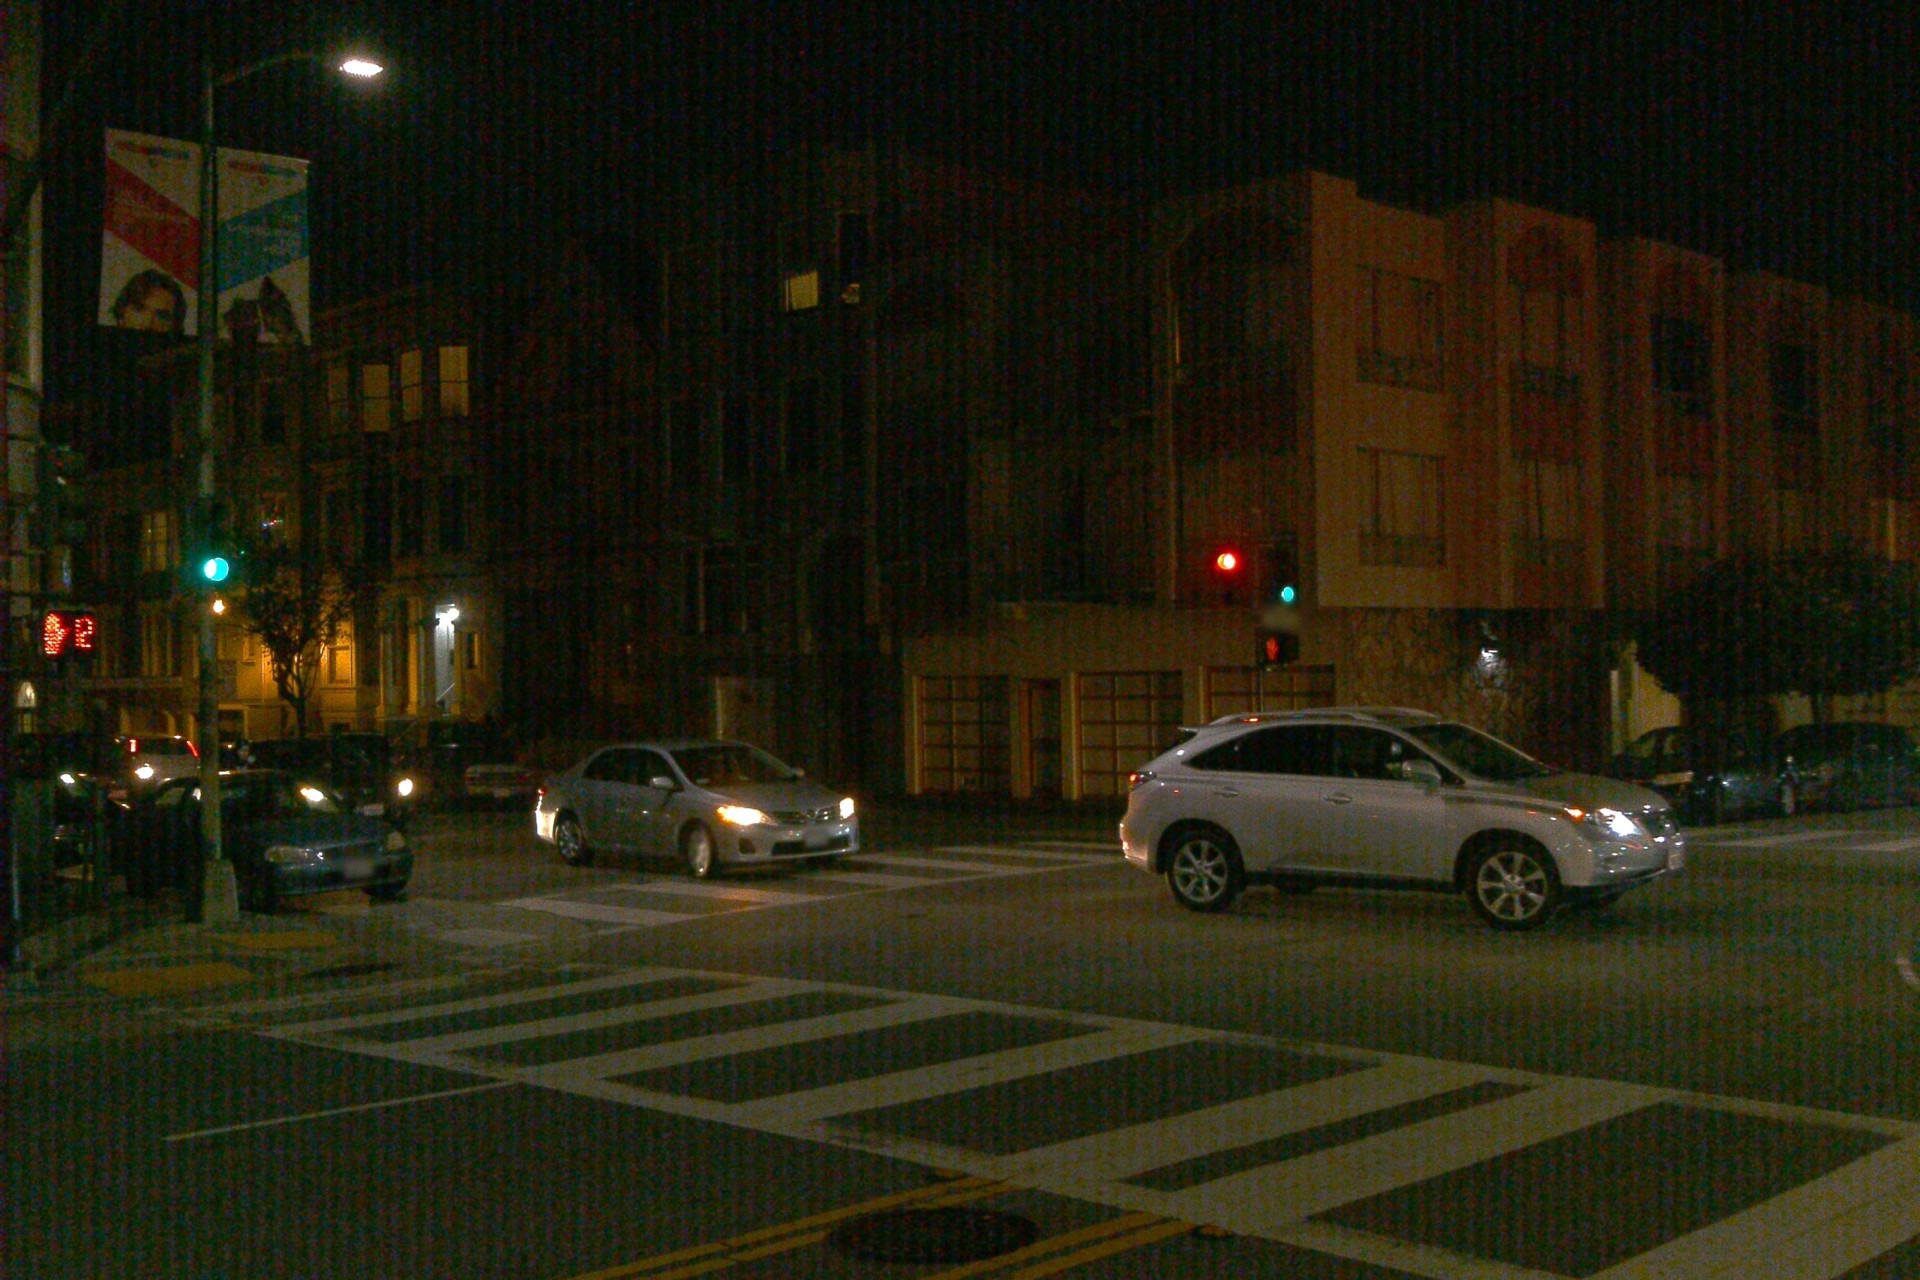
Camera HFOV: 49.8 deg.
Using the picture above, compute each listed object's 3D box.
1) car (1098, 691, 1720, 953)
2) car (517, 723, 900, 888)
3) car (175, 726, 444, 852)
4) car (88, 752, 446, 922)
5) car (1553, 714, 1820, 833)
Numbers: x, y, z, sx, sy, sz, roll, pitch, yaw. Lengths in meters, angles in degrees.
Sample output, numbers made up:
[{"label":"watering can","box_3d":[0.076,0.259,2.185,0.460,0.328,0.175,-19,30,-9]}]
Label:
[{"label":"car","box_3d":[3.712,1.394,17.458,4.616,1.760,2.138,1,0,37]},{"label":"car","box_3d":[-2.944,1.785,23.439,2.125,1.450,4.459,1,0,-42]},{"label":"car","box_3d":[-9.641,2.124,30.425,2.021,1.480,4.494,1,0,-43]},{"label":"car","box_3d":[-7.499,2.019,22.146,1.946,1.350,4.278,1,0,-44]},{"label":"car","box_3d":[10.607,1.866,29.966,1.967,1.430,4.633,1,0,42]}]
